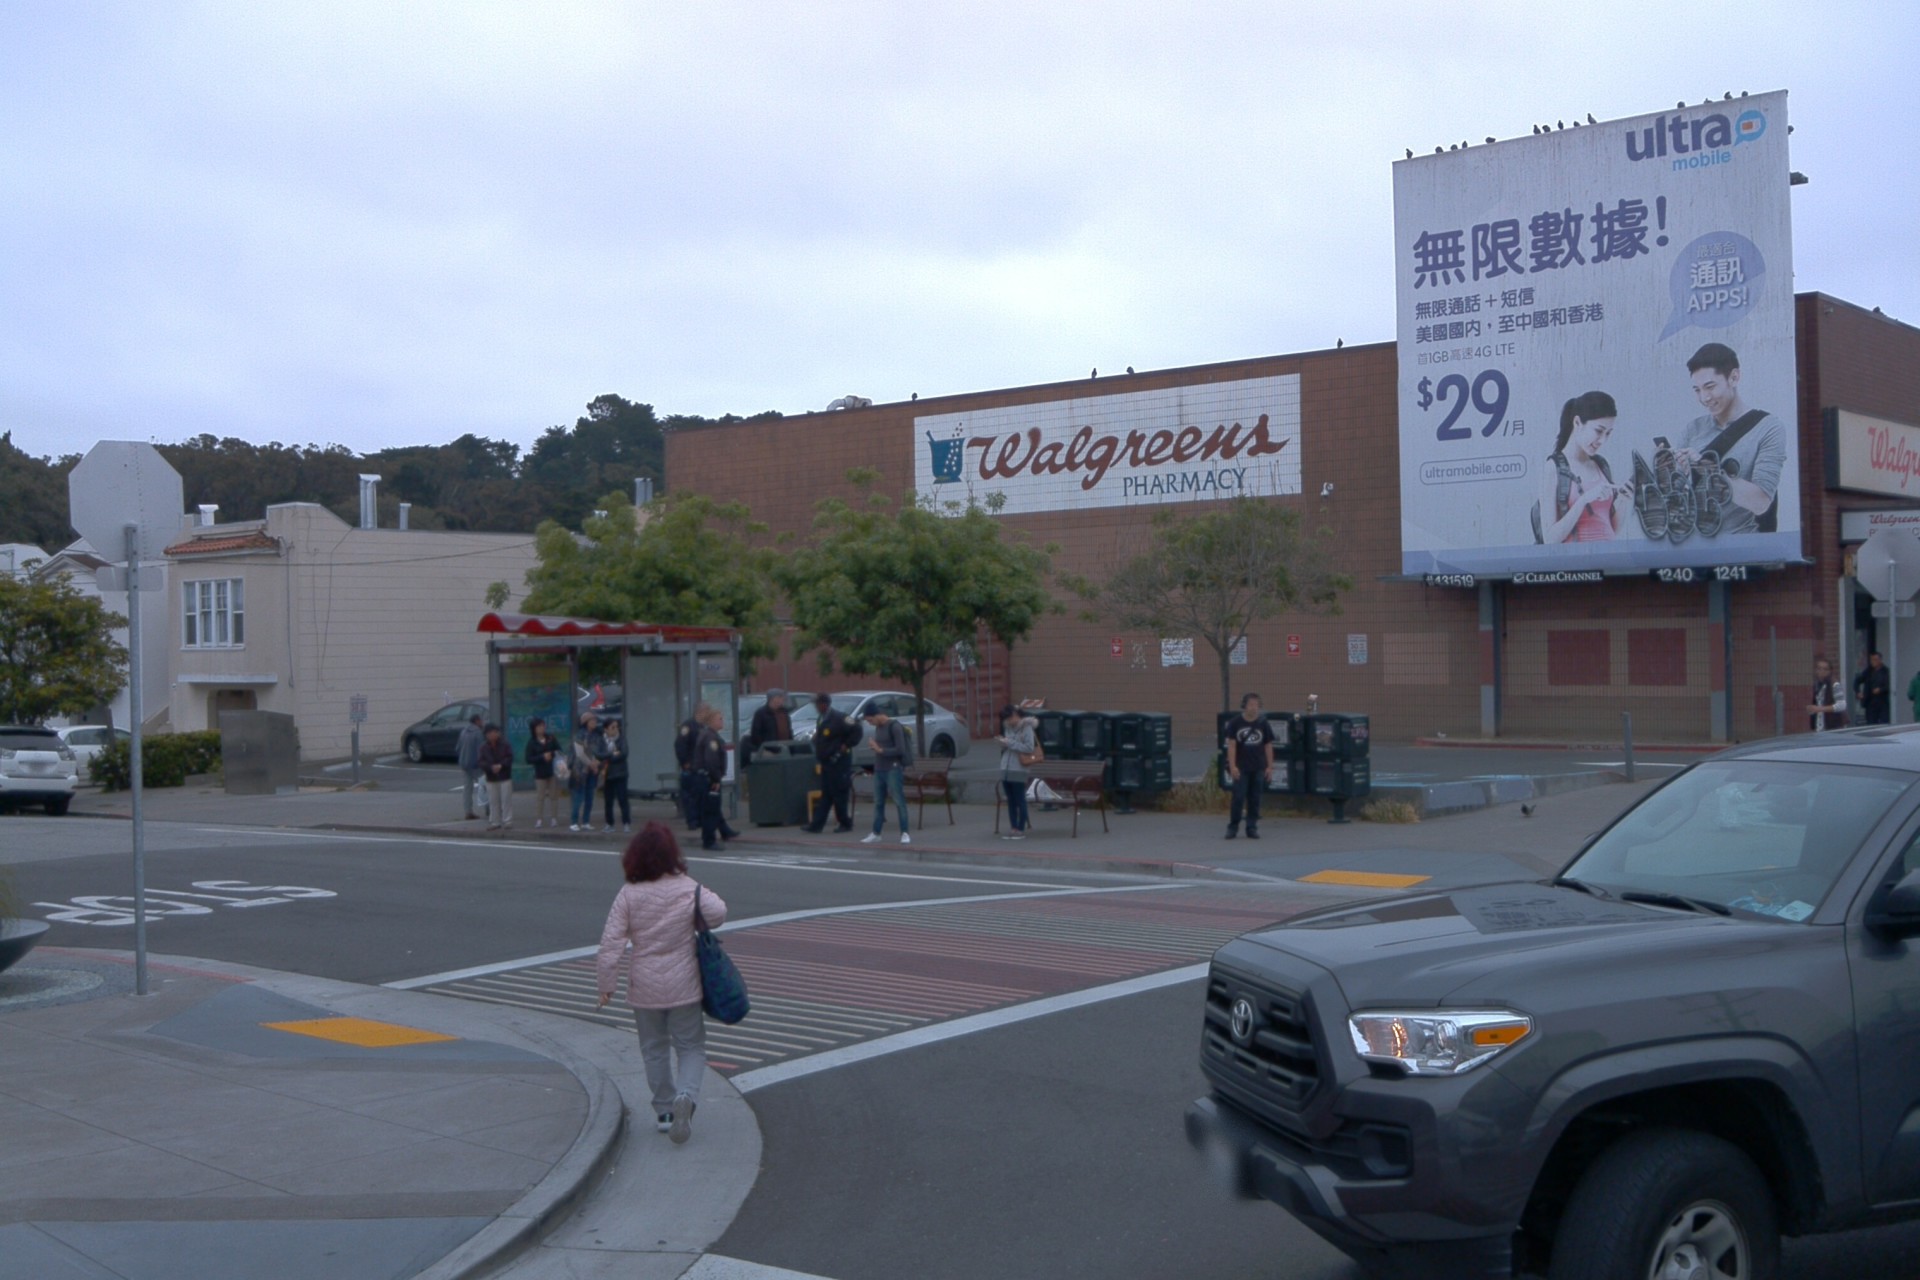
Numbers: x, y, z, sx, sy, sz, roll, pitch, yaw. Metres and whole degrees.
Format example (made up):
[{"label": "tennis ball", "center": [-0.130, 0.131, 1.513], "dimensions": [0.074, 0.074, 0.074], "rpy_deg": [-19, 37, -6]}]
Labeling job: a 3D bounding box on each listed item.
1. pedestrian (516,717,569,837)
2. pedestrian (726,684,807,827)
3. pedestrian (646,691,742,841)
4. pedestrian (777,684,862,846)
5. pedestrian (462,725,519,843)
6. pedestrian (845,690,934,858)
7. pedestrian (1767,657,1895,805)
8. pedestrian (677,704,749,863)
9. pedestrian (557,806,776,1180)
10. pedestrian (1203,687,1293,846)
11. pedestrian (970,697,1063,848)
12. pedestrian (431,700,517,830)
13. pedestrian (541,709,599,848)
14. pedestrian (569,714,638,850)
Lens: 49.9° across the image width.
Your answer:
[{"label": "pedestrian", "center": [-5.895, 1.922, 29.153], "dimensions": [0.685, 1.635, 0.708], "rpy_deg": [0, 1, -8]}, {"label": "pedestrian", "center": [-2.740, 1.612, 29.158], "dimensions": [0.922, 1.935, 0.825], "rpy_deg": [-1, 1, -25]}, {"label": "pedestrian", "center": [-3.553, 1.658, 27.558], "dimensions": [0.939, 1.910, 0.842], "rpy_deg": [-1, 1, -45]}, {"label": "pedestrian", "center": [-1.762, 1.541, 25.746], "dimensions": [0.958, 1.930, 0.991], "rpy_deg": [0, 1, -9]}, {"label": "pedestrian", "center": [-6.658, 2.034, 29.269], "dimensions": [0.684, 1.610, 0.709], "rpy_deg": [0, 1, -5]}, {"label": "pedestrian", "center": [-0.835, 1.568, 24.461], "dimensions": [0.661, 1.910, 0.879], "rpy_deg": [1, 1, 34]}, {"label": "pedestrian", "center": [10.989, 1.135, 26.075], "dimensions": [1.262, 1.820, 0.884], "rpy_deg": [0, 1, 4]}, {"label": "pedestrian", "center": [-3.028, 1.735, 25.236], "dimensions": [0.812, 1.841, 0.985], "rpy_deg": [0, 1, -10]}, {"label": "pedestrian", "center": [-1.295, 1.521, 9.153], "dimensions": [0.910, 1.479, 0.851], "rpy_deg": [0, 1, -8]}, {"label": "pedestrian", "center": [3.295, 1.427, 23.592], "dimensions": [0.723, 1.730, 0.739], "rpy_deg": [1, 1, 44]}, {"label": "pedestrian", "center": [0.665, 1.542, 24.296], "dimensions": [0.872, 1.690, 0.667], "rpy_deg": [1, 1, 36]}, {"label": "pedestrian", "center": [-7.398, 1.887, 31.421], "dimensions": [0.922, 1.880, 0.870], "rpy_deg": [1, 1, 31]}, {"label": "pedestrian", "center": [-5.342, 1.885, 28.237], "dimensions": [0.761, 1.830, 0.681], "rpy_deg": [0, 1, -12]}, {"label": "pedestrian", "center": [-4.772, 1.884, 27.607], "dimensions": [0.687, 1.730, 0.706], "rpy_deg": [-1, 1, -32]}]
